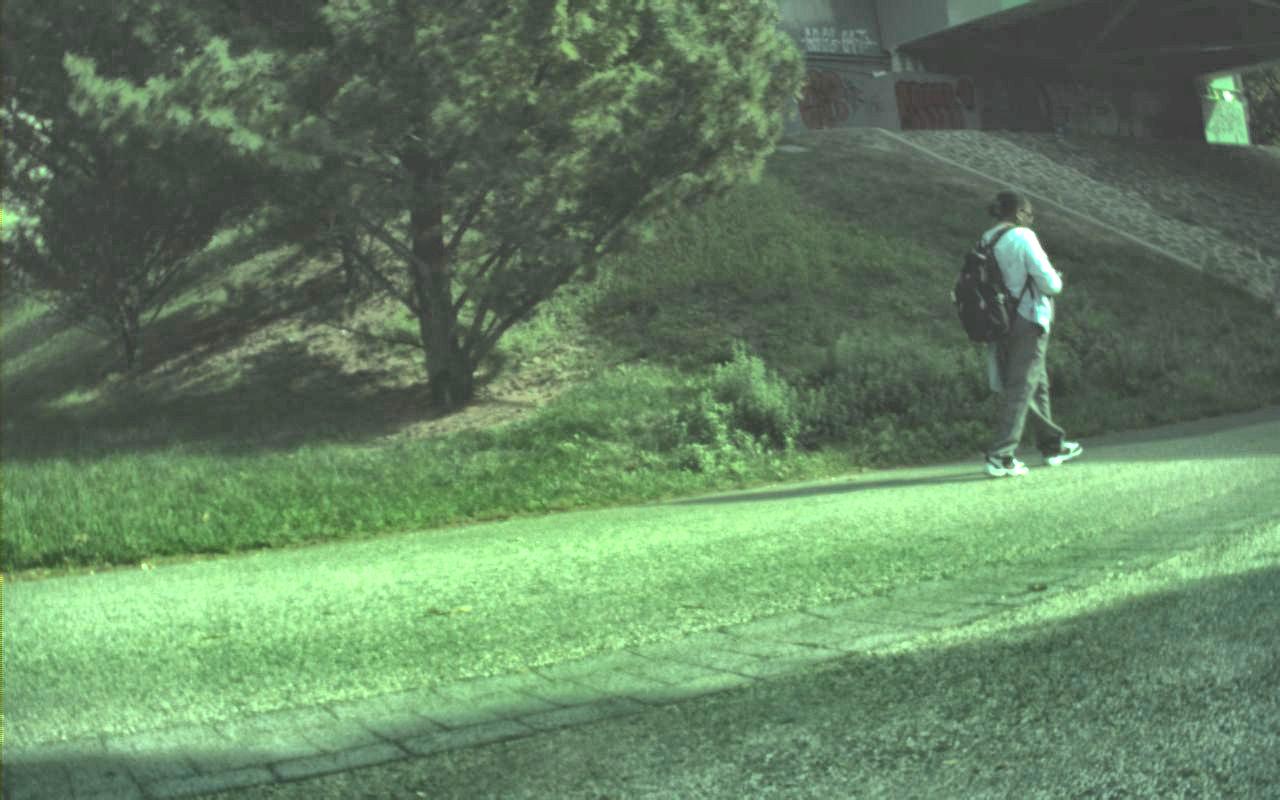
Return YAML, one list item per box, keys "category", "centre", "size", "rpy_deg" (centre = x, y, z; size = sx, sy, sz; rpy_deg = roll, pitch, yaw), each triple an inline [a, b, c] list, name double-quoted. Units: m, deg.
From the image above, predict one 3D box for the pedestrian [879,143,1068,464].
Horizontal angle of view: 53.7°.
- category: "pedestrian"
  centre: [1.924, -0.524, 7.013]
  size: [0.786, 1.707, 0.864]
  rpy_deg: [1, 0, 44]

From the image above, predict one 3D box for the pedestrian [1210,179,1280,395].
- category: "pedestrian"
  centre: [5.233, -0.906, 9.558]
  size: [0.794, 1.756, 0.847]
  rpy_deg: [1, 0, 31]
